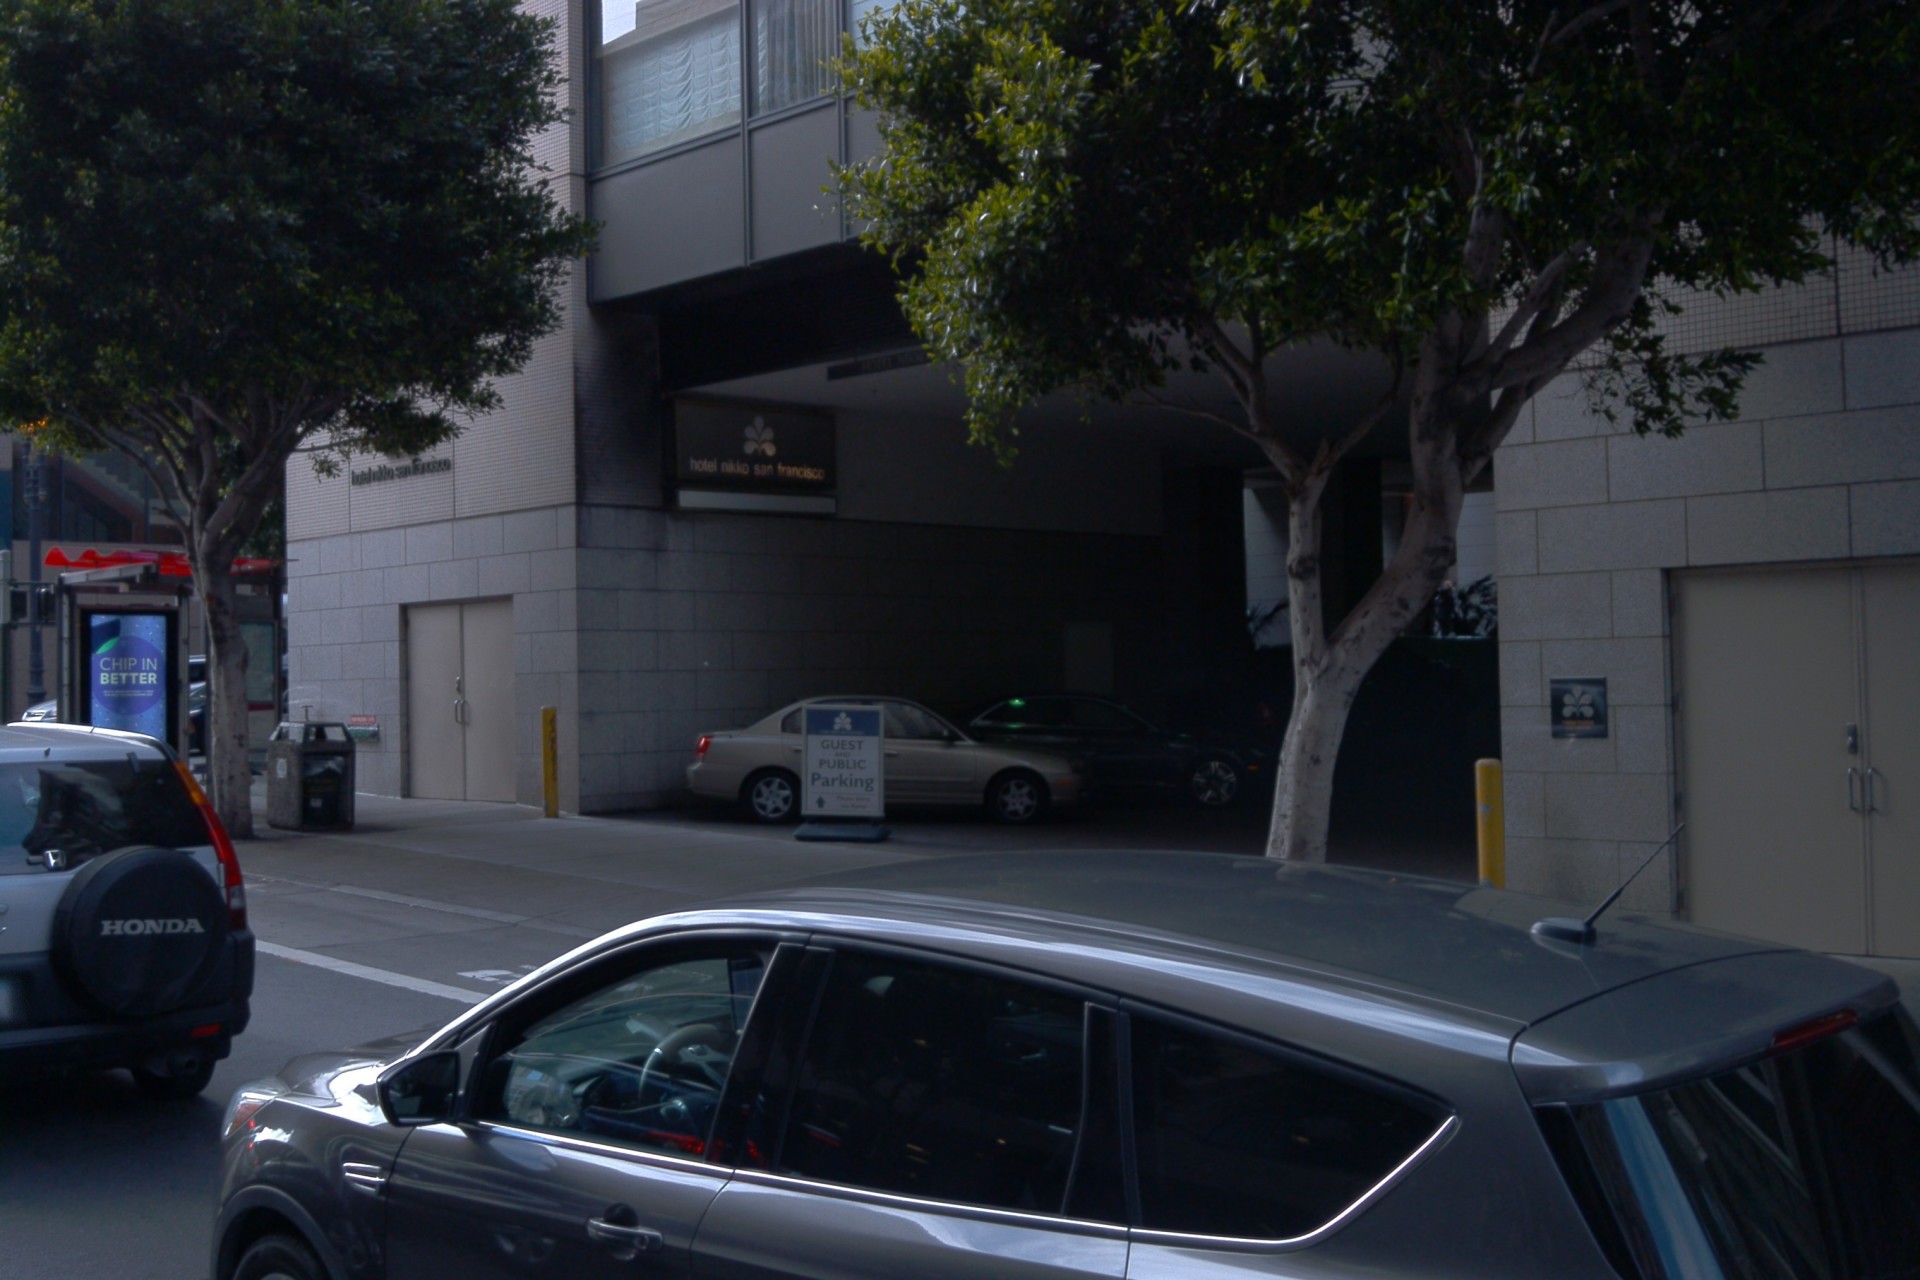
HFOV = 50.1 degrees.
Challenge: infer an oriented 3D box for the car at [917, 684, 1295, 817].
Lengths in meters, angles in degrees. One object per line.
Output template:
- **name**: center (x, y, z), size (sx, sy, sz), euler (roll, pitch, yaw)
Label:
- **car**: center (1.725, 1.319, 25.124), size (4.429, 1.500, 1.858), euler (0, 0, 1)

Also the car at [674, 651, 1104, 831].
- **car**: center (-0.757, 1.074, 22.613), size (4.538, 1.860, 1.771), euler (0, 0, 0)

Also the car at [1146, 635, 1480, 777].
- **car**: center (5.577, 0.925, 31.956), size (5.637, 1.970, 2.175), euler (-1, 1, -44)
